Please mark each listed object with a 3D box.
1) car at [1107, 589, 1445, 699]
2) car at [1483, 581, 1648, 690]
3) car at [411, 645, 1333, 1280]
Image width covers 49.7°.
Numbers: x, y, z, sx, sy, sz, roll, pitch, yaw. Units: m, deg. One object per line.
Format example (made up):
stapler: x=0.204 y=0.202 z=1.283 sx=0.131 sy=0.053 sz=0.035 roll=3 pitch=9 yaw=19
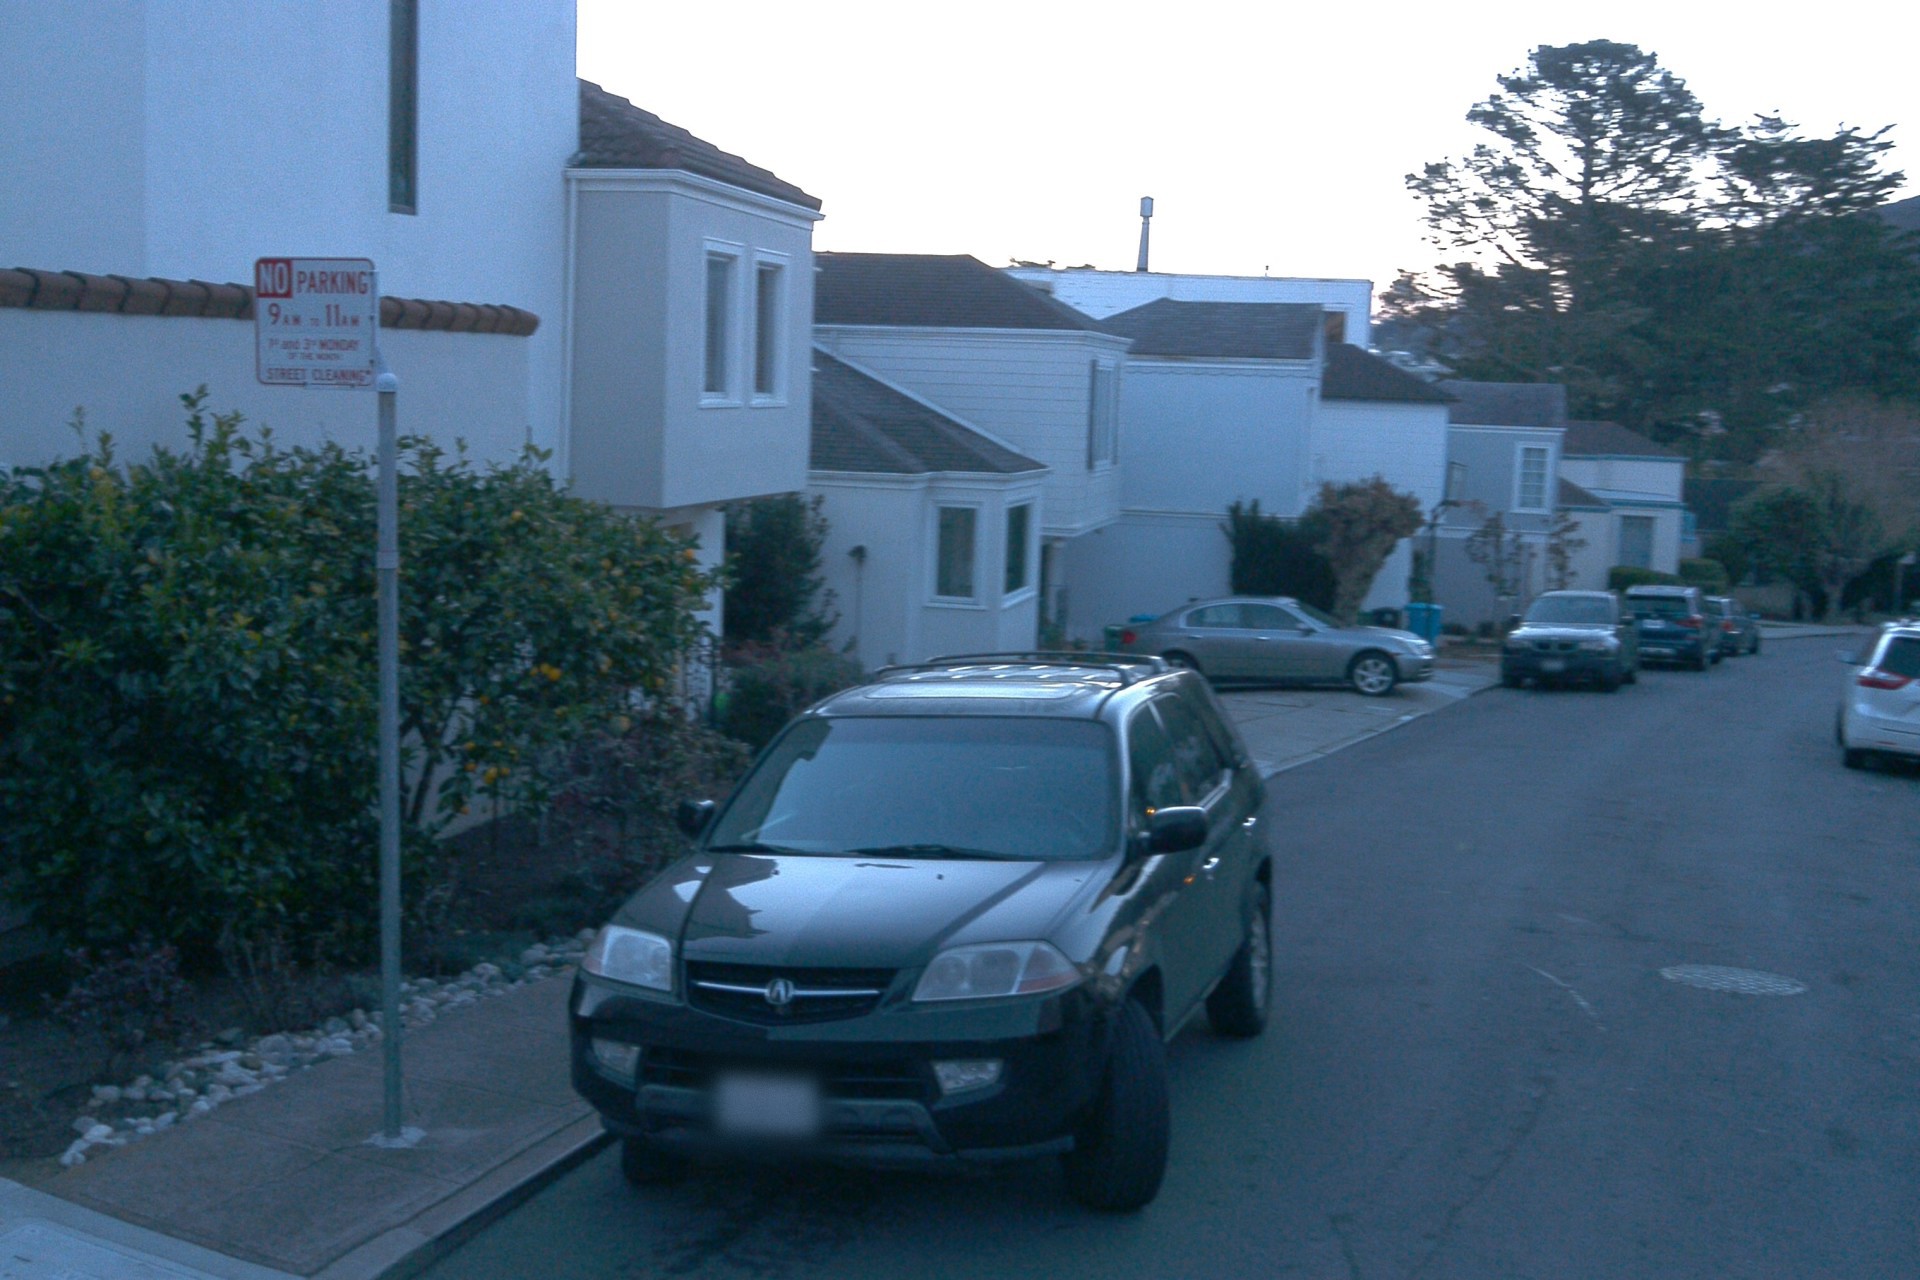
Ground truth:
car: x=4.791 y=0.066 z=31.328 sx=4.748 sy=1.580 sz=1.997 roll=0 pitch=0 yaw=19
car: x=10.485 y=-0.082 z=35.677 sx=2.084 sy=1.740 sz=4.551 roll=0 pitch=0 yaw=24
car: x=0.083 y=0.986 z=8.588 sx=2.316 sy=1.880 sz=4.886 roll=0 pitch=0 yaw=17
